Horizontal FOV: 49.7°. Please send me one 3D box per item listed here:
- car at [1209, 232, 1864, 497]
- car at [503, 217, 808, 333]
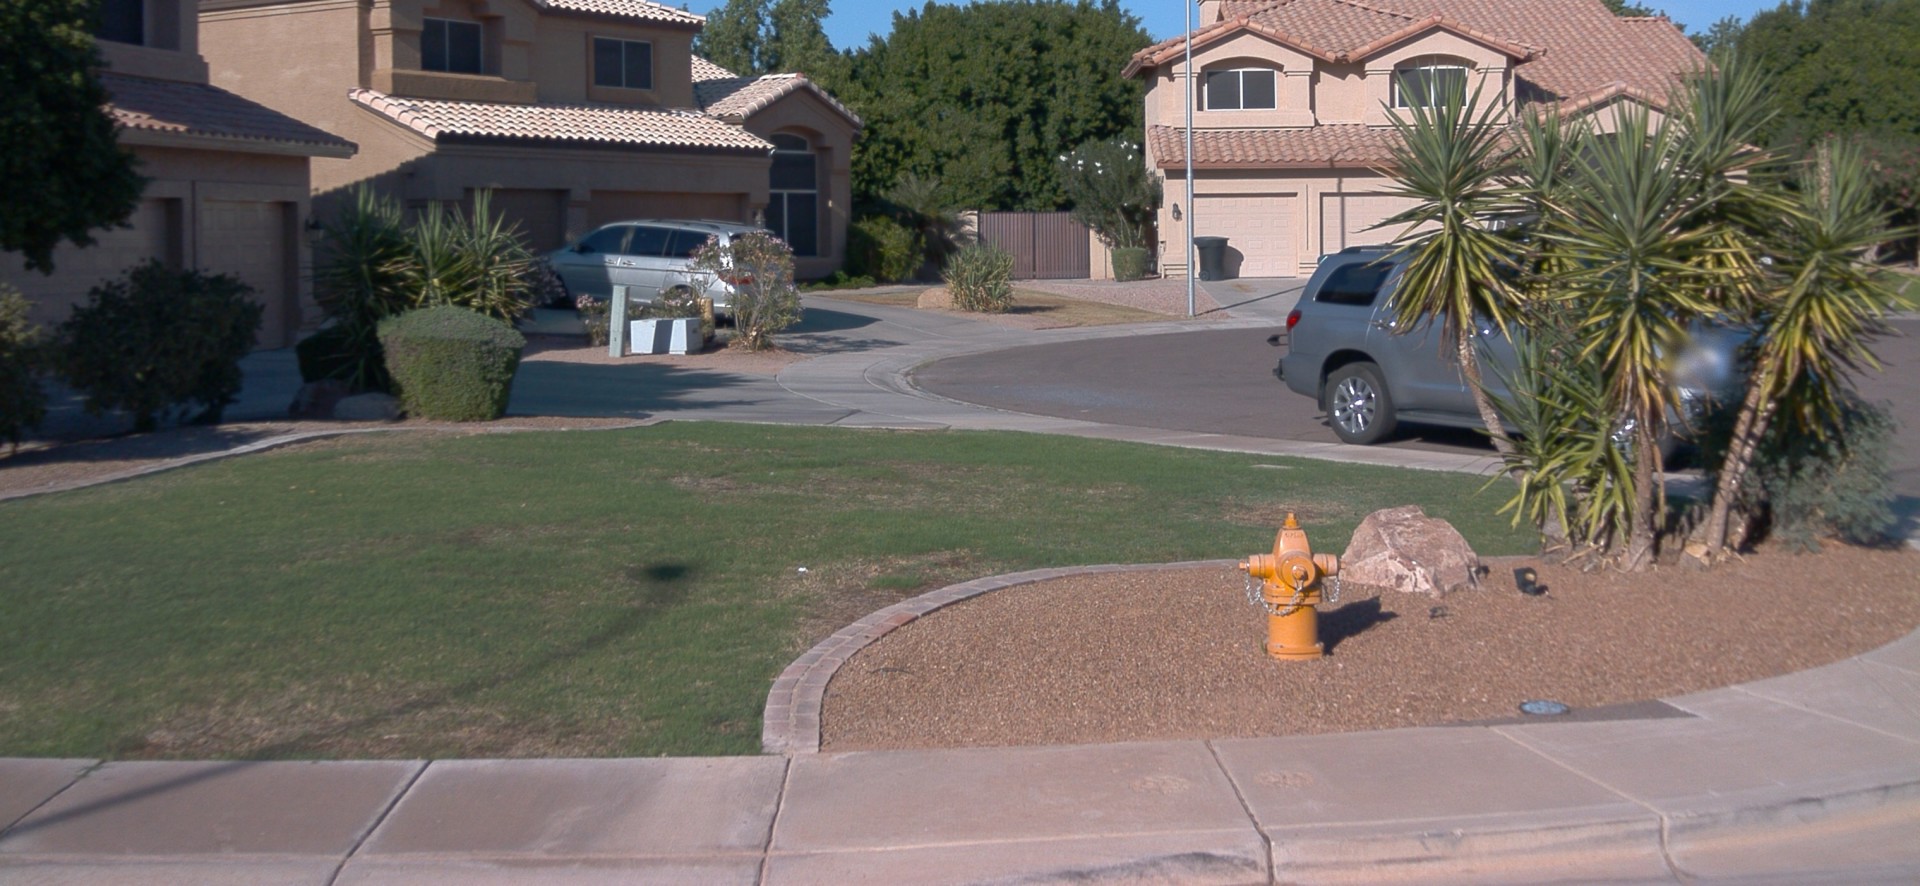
[{"bbox_3d":[5.187,-0.937,19.585,2.580,2.051,5.678,-3,6,-34],"label":"car"},{"bbox_3d":[-5.398,-3.022,36.590,5.038,1.893,2.276,3,5,32],"label":"car"}]
